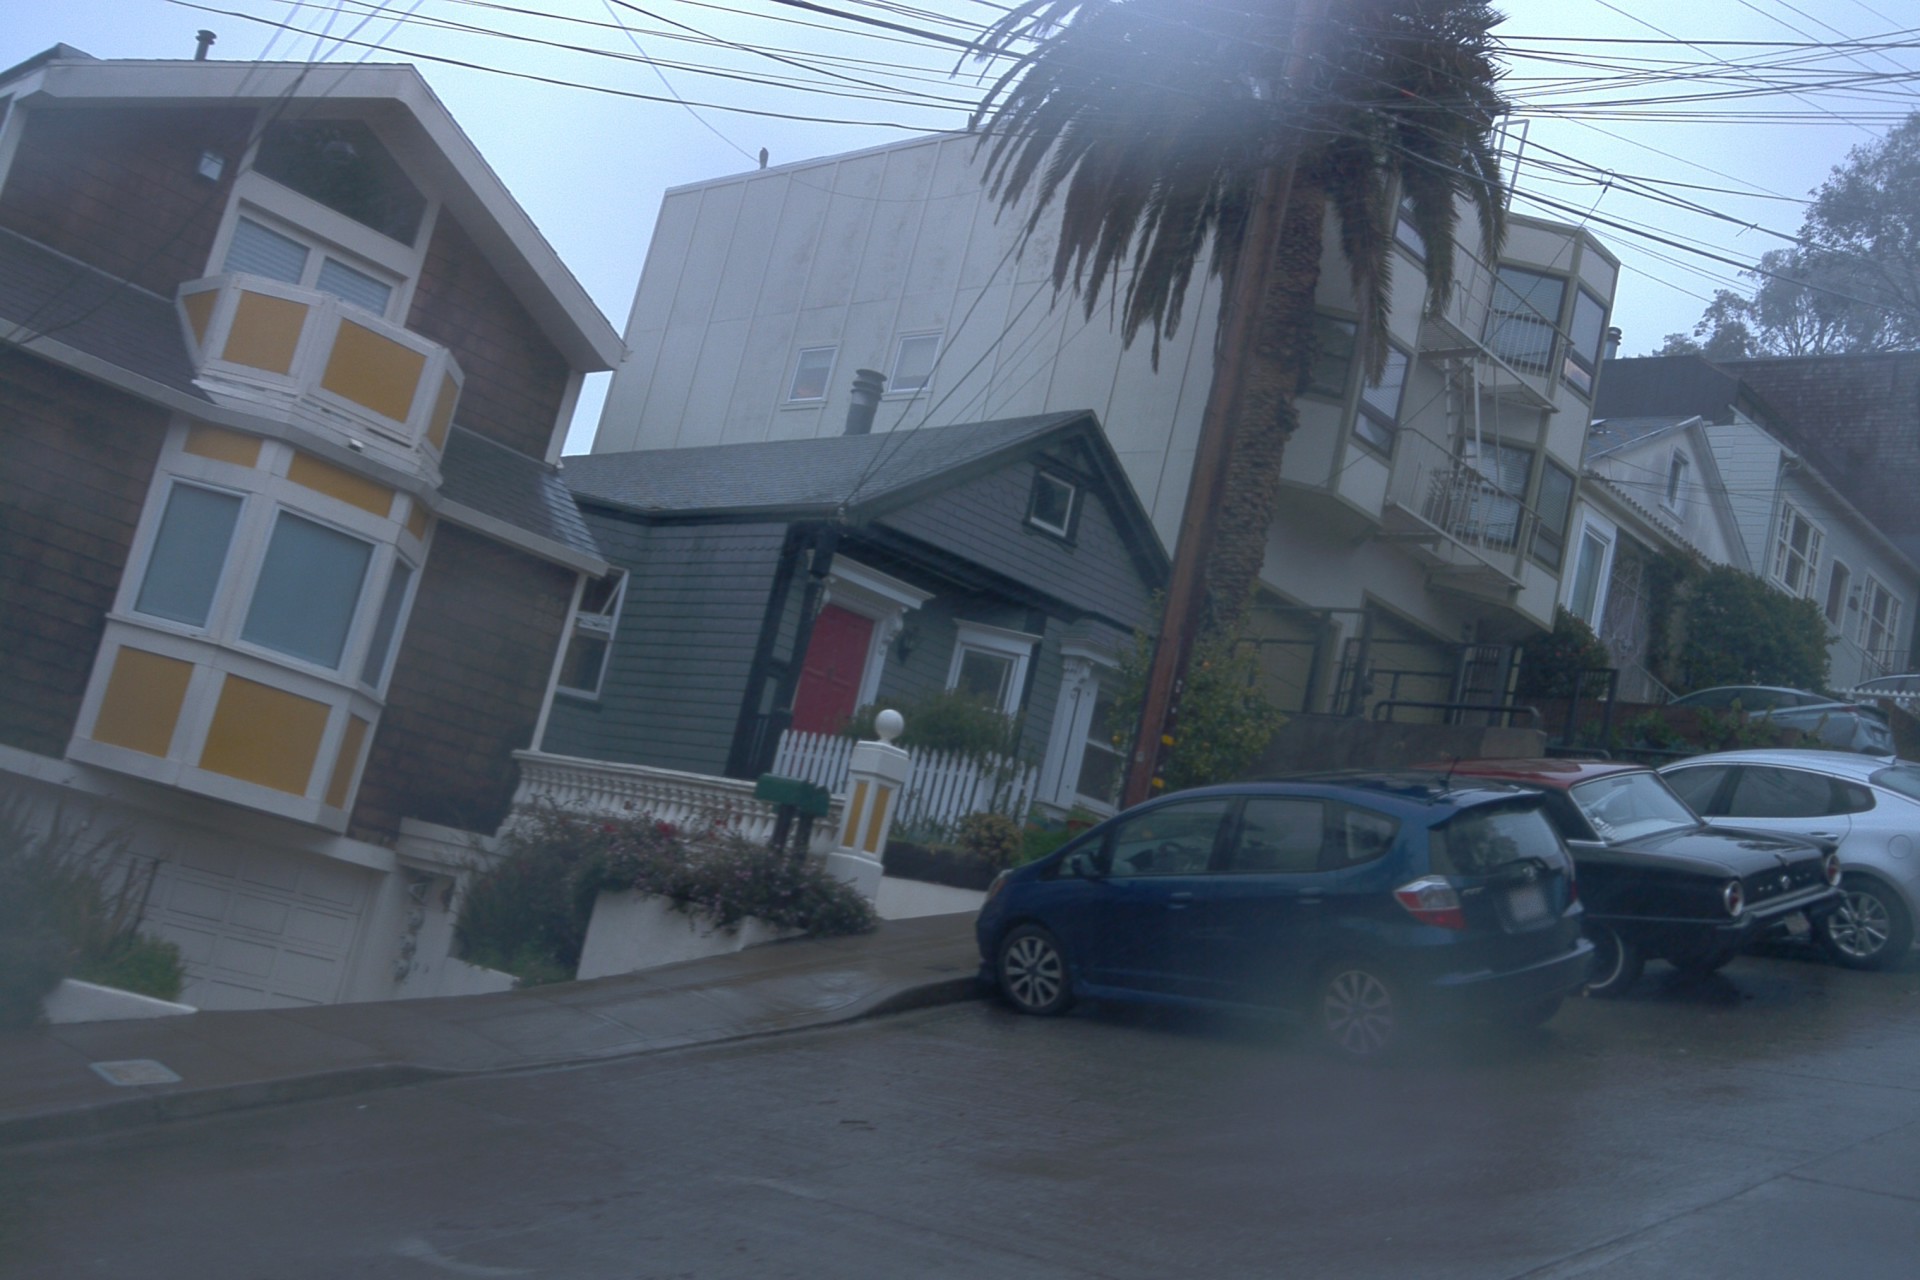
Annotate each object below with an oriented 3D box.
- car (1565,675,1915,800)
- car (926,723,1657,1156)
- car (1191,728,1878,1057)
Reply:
[{"bbox_3d":[11.689,1.399,31.234,4.454,1.650,2.111,0,0,44],"label":"car"},{"bbox_3d":[1.866,1.575,12.433,2.119,1.970,3.826,0,0,-43],"label":"car"},{"bbox_3d":[3.855,1.577,14.358,4.134,1.750,1.985,0,0,45],"label":"car"}]
